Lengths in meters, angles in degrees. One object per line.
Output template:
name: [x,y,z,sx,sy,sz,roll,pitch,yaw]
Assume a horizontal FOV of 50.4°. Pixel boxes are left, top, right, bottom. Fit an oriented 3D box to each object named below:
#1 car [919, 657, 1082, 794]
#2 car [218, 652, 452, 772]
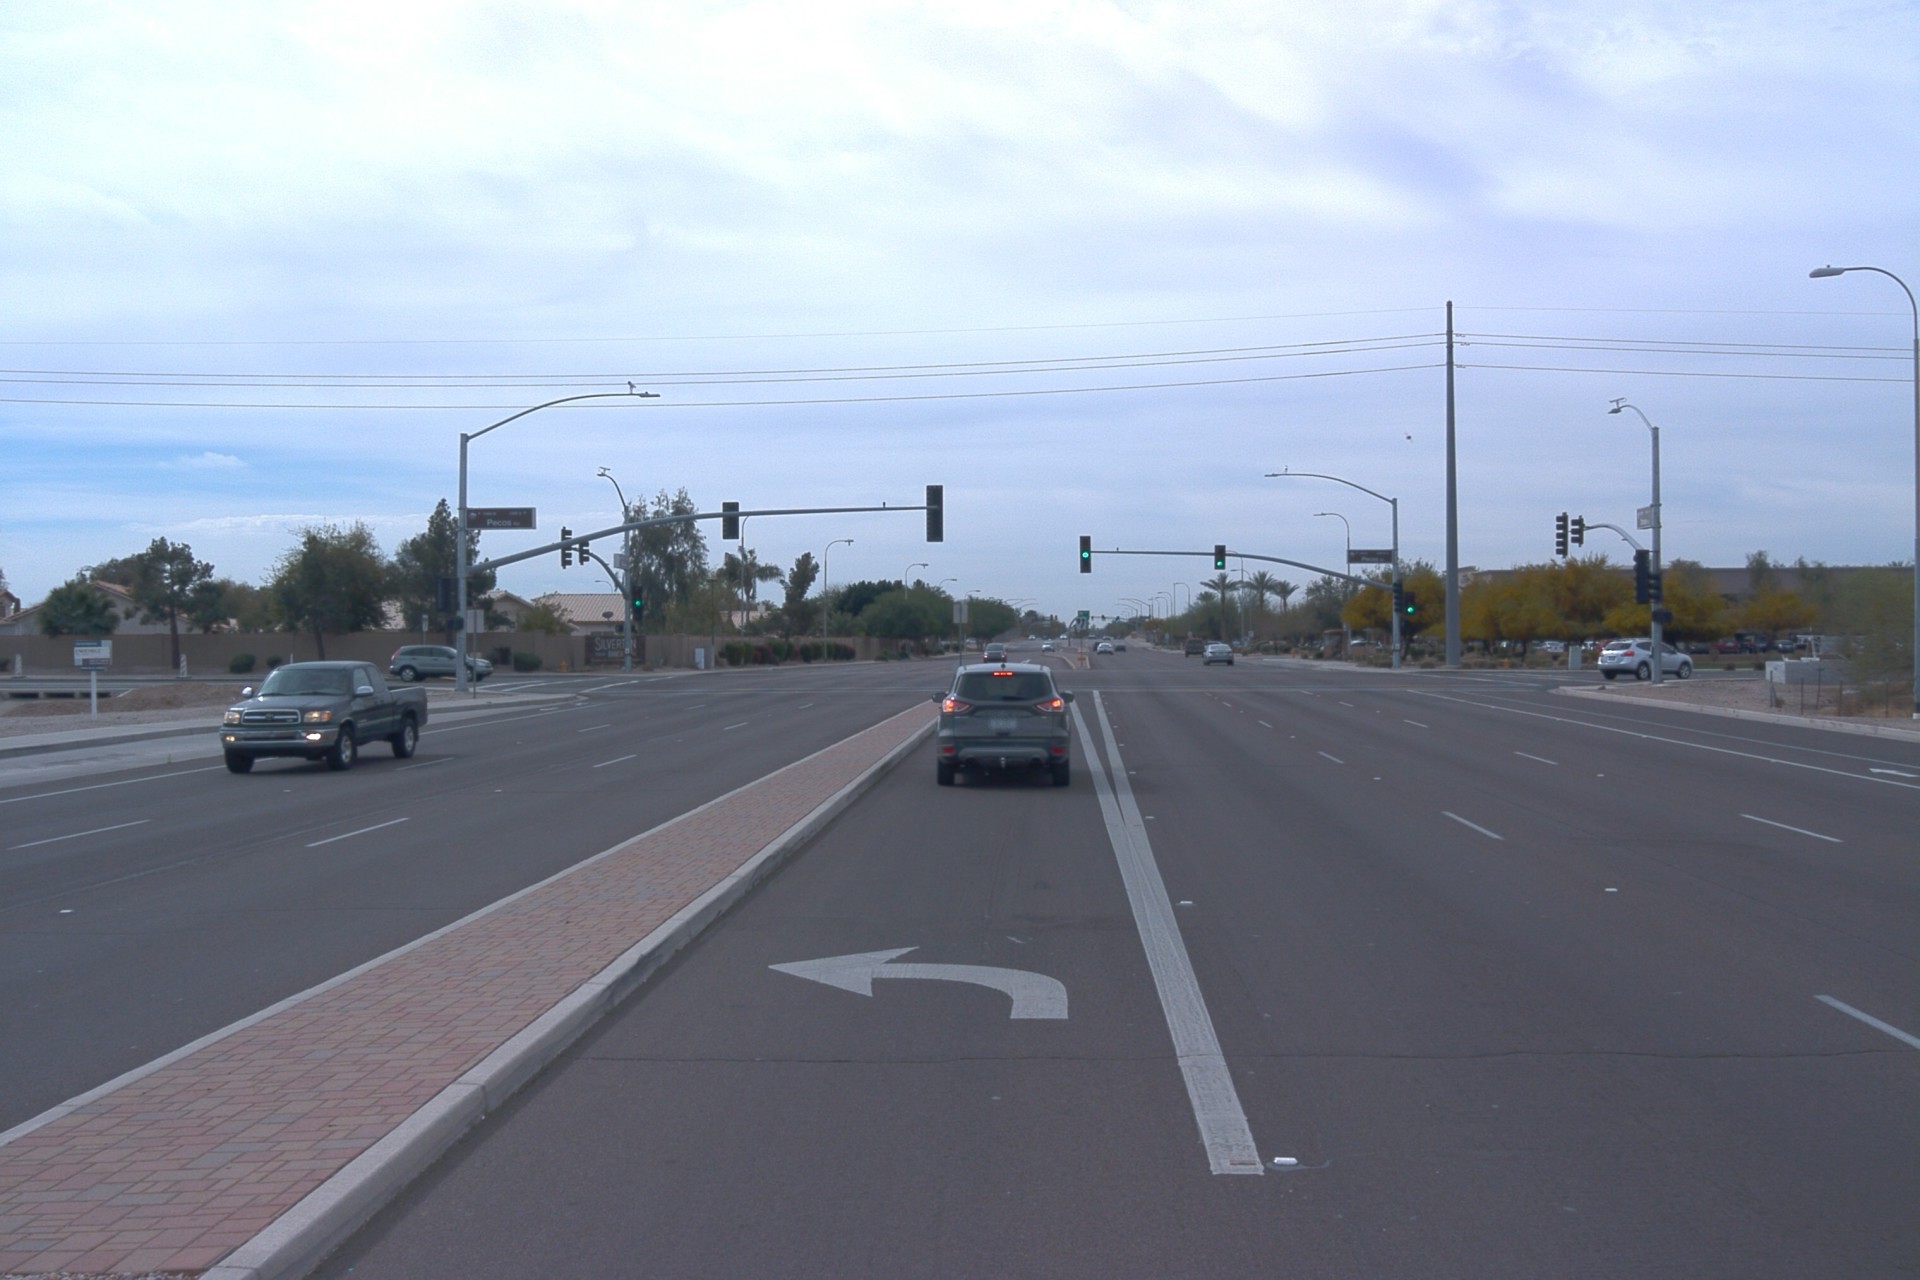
car: [0.615,1.143,29.048,2.126,1.740,4.599,1,0,2]
car: [-10.980,1.197,36.328,2.239,1.920,5.423,1,0,3]
